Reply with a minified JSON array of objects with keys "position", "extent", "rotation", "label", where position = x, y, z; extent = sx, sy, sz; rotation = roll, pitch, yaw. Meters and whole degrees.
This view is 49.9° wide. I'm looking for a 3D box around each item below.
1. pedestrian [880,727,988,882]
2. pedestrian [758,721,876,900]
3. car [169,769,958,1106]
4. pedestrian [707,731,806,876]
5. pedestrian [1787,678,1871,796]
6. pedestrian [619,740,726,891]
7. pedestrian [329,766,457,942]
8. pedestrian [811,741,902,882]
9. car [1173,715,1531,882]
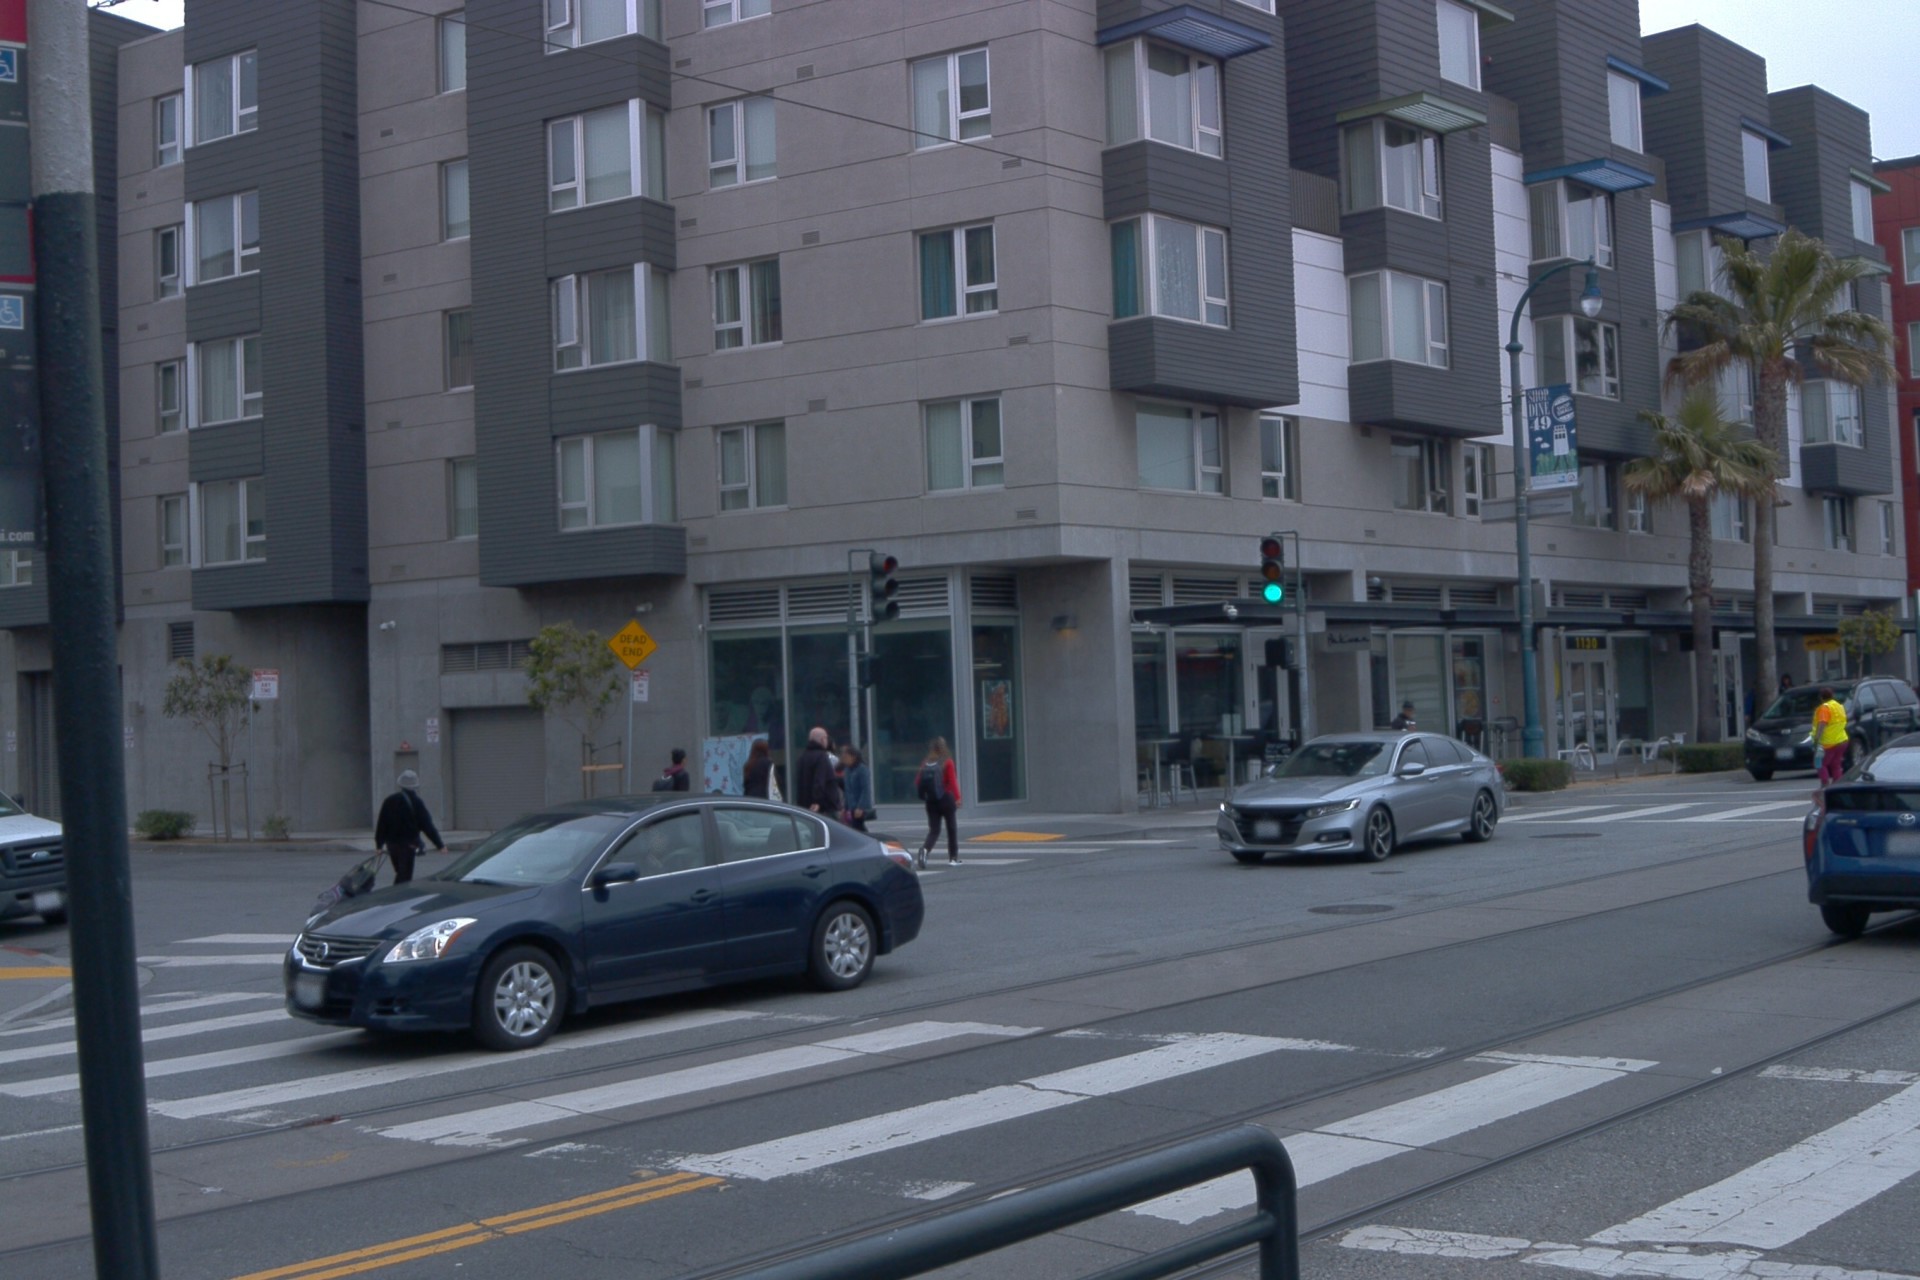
[{"position":[-0.312,1.946,24.722],"extent":[0.886,1.730,0.982],"rotation":[1,1,34],"label":"pedestrian"},{"position":[-1.620,1.902,23.373],"extent":[0.990,1.900,0.906],"rotation":[-1,1,-38],"label":"pedestrian"},{"position":[-2.470,1.797,13.893],"extent":[2.135,1.460,4.878],"rotation":[1,1,44],"label":"car"},{"position":[-2.606,2.071,26.430],"extent":[0.777,1.733,0.989],"rotation":[1,1,41],"label":"pedestrian"},{"position":[12.816,1.421,30.451],"extent":[0.898,1.700,0.700],"rotation":[0,1,-8],"label":"pedestrian"},{"position":[-3.541,2.136,25.452],"extent":[0.857,1.730,0.990],"rotation":[1,1,38],"label":"pedestrian"},{"position":[-5.909,2.204,21.528],"extent":[0.806,1.690,0.985],"rotation":[1,1,33],"label":"pedestrian"},{"position":[-1.245,2.041,24.799],"extent":[0.807,1.583,0.747],"rotation":[-1,1,-37],"label":"pedestrian"},{"position":[4.800,1.793,24.705],"extent":[2.178,1.500,4.889],"rotation":[1,1,38],"label":"car"}]
